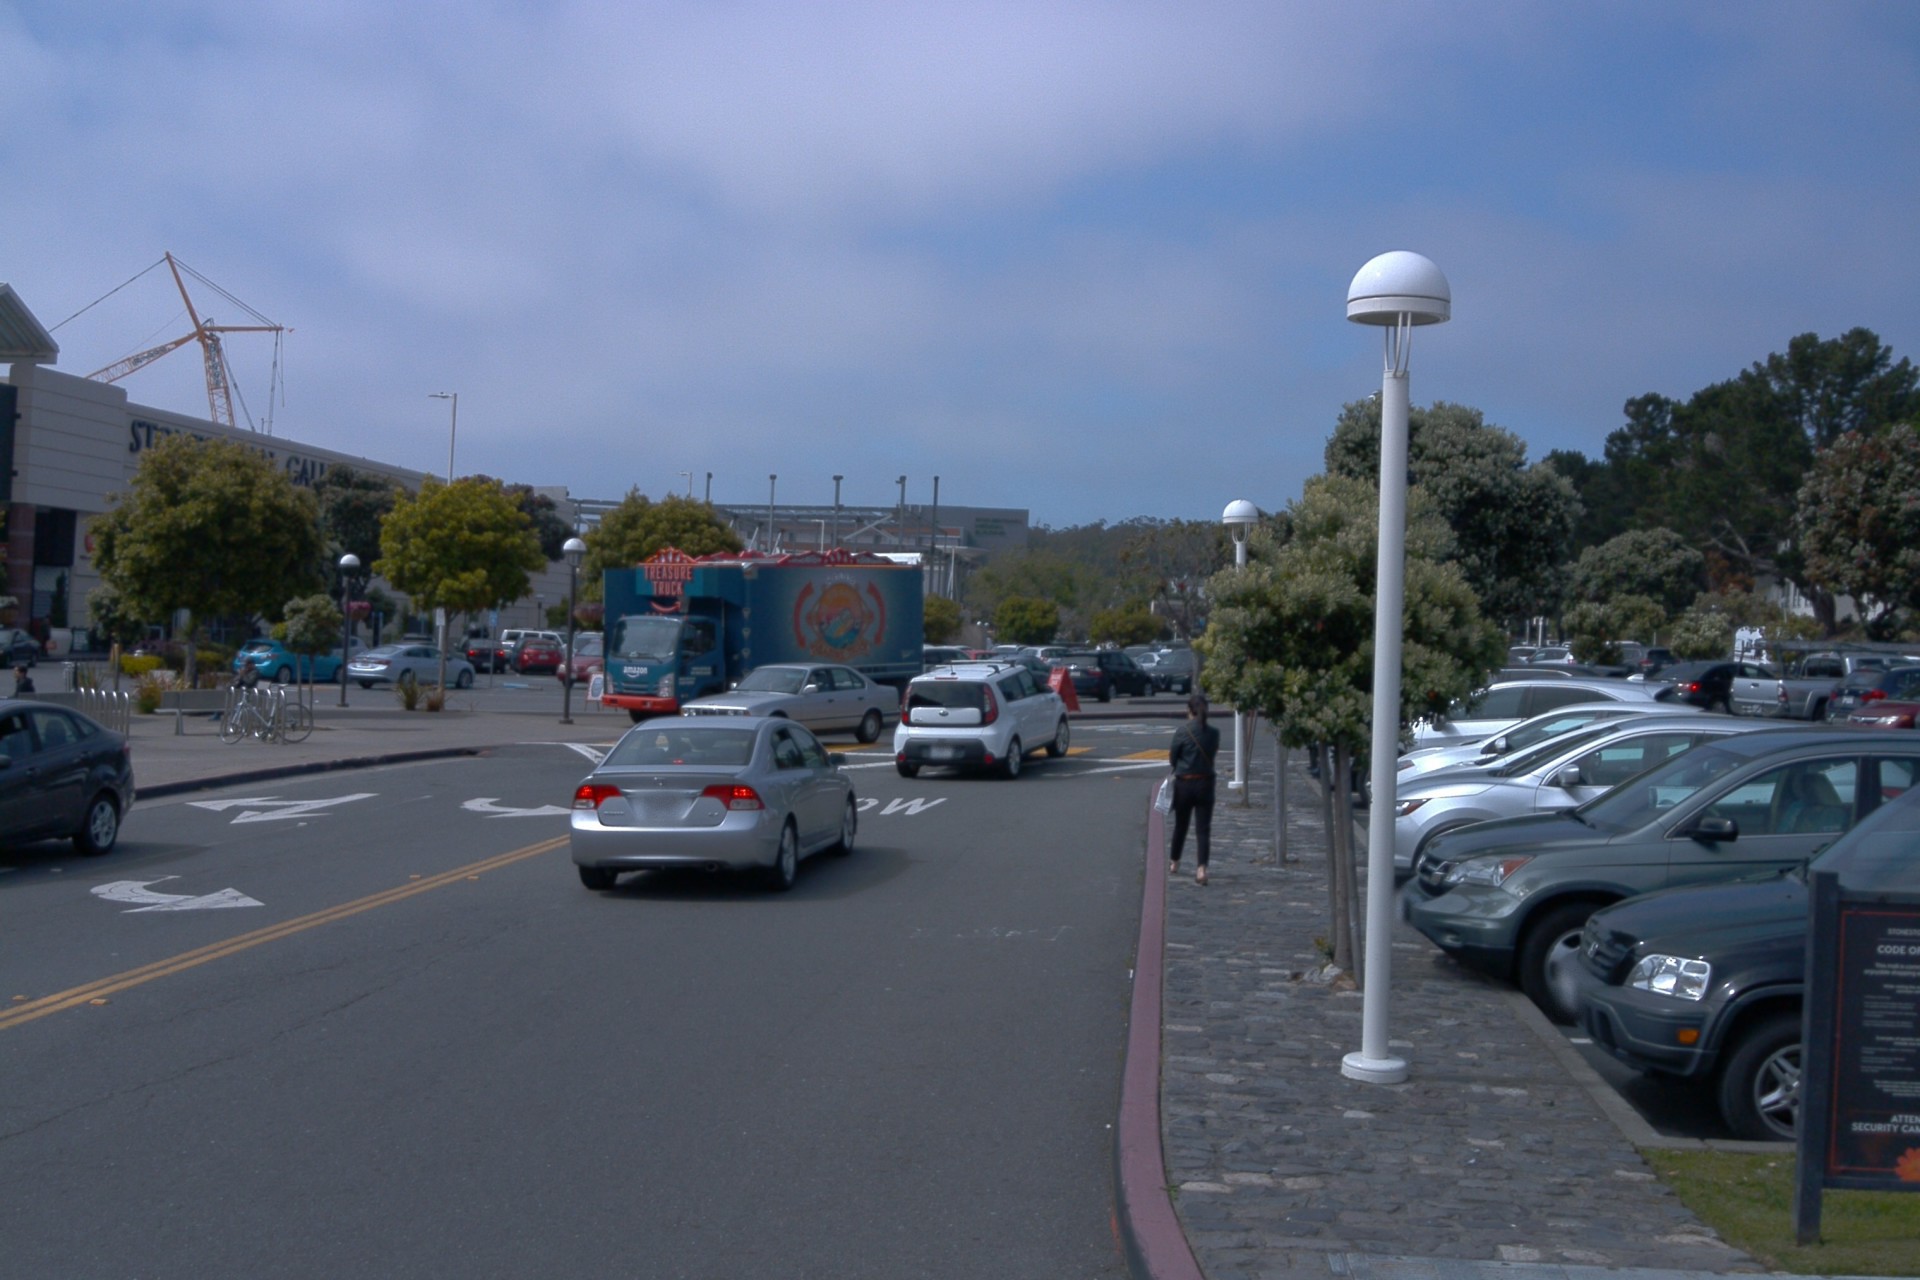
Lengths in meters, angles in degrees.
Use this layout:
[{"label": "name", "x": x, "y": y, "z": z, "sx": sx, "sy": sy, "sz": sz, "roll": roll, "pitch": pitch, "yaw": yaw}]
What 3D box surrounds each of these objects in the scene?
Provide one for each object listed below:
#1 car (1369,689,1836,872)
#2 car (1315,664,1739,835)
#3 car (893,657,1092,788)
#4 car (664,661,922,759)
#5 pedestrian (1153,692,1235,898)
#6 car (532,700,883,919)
[{"label": "car", "x": 6.851, "y": 1.412, "z": 21.951, "sx": 4.507, "sy": 1.670, "sz": 2.040, "roll": 0, "pitch": 0, "yaw": 26}, {"label": "car", "x": 6.854, "y": 1.247, "z": 24.922, "sx": 4.642, "sy": 1.830, "sz": 2.002, "roll": 0, "pitch": 0, "yaw": 28}, {"label": "car", "x": 0.573, "y": 1.186, "z": 31.449, "sx": 1.878, "sy": 1.780, "sz": 4.030, "roll": 0, "pitch": 1, "yaw": 19}, {"label": "car", "x": -2.790, "y": 1.153, "z": 35.511, "sx": 2.035, "sy": 1.470, "sz": 4.673, "roll": 0, "pitch": 1, "yaw": 32}, {"label": "pedestrian", "x": 1.856, "y": 1.213, "z": 16.356, "sx": 0.631, "sy": 1.570, "sz": 0.737, "roll": 0, "pitch": 0, "yaw": 6}, {"label": "car", "x": -2.067, "y": 1.378, "z": 18.211, "sx": 2.050, "sy": 1.520, "sz": 4.334, "roll": 0, "pitch": 1, "yaw": 8}]
